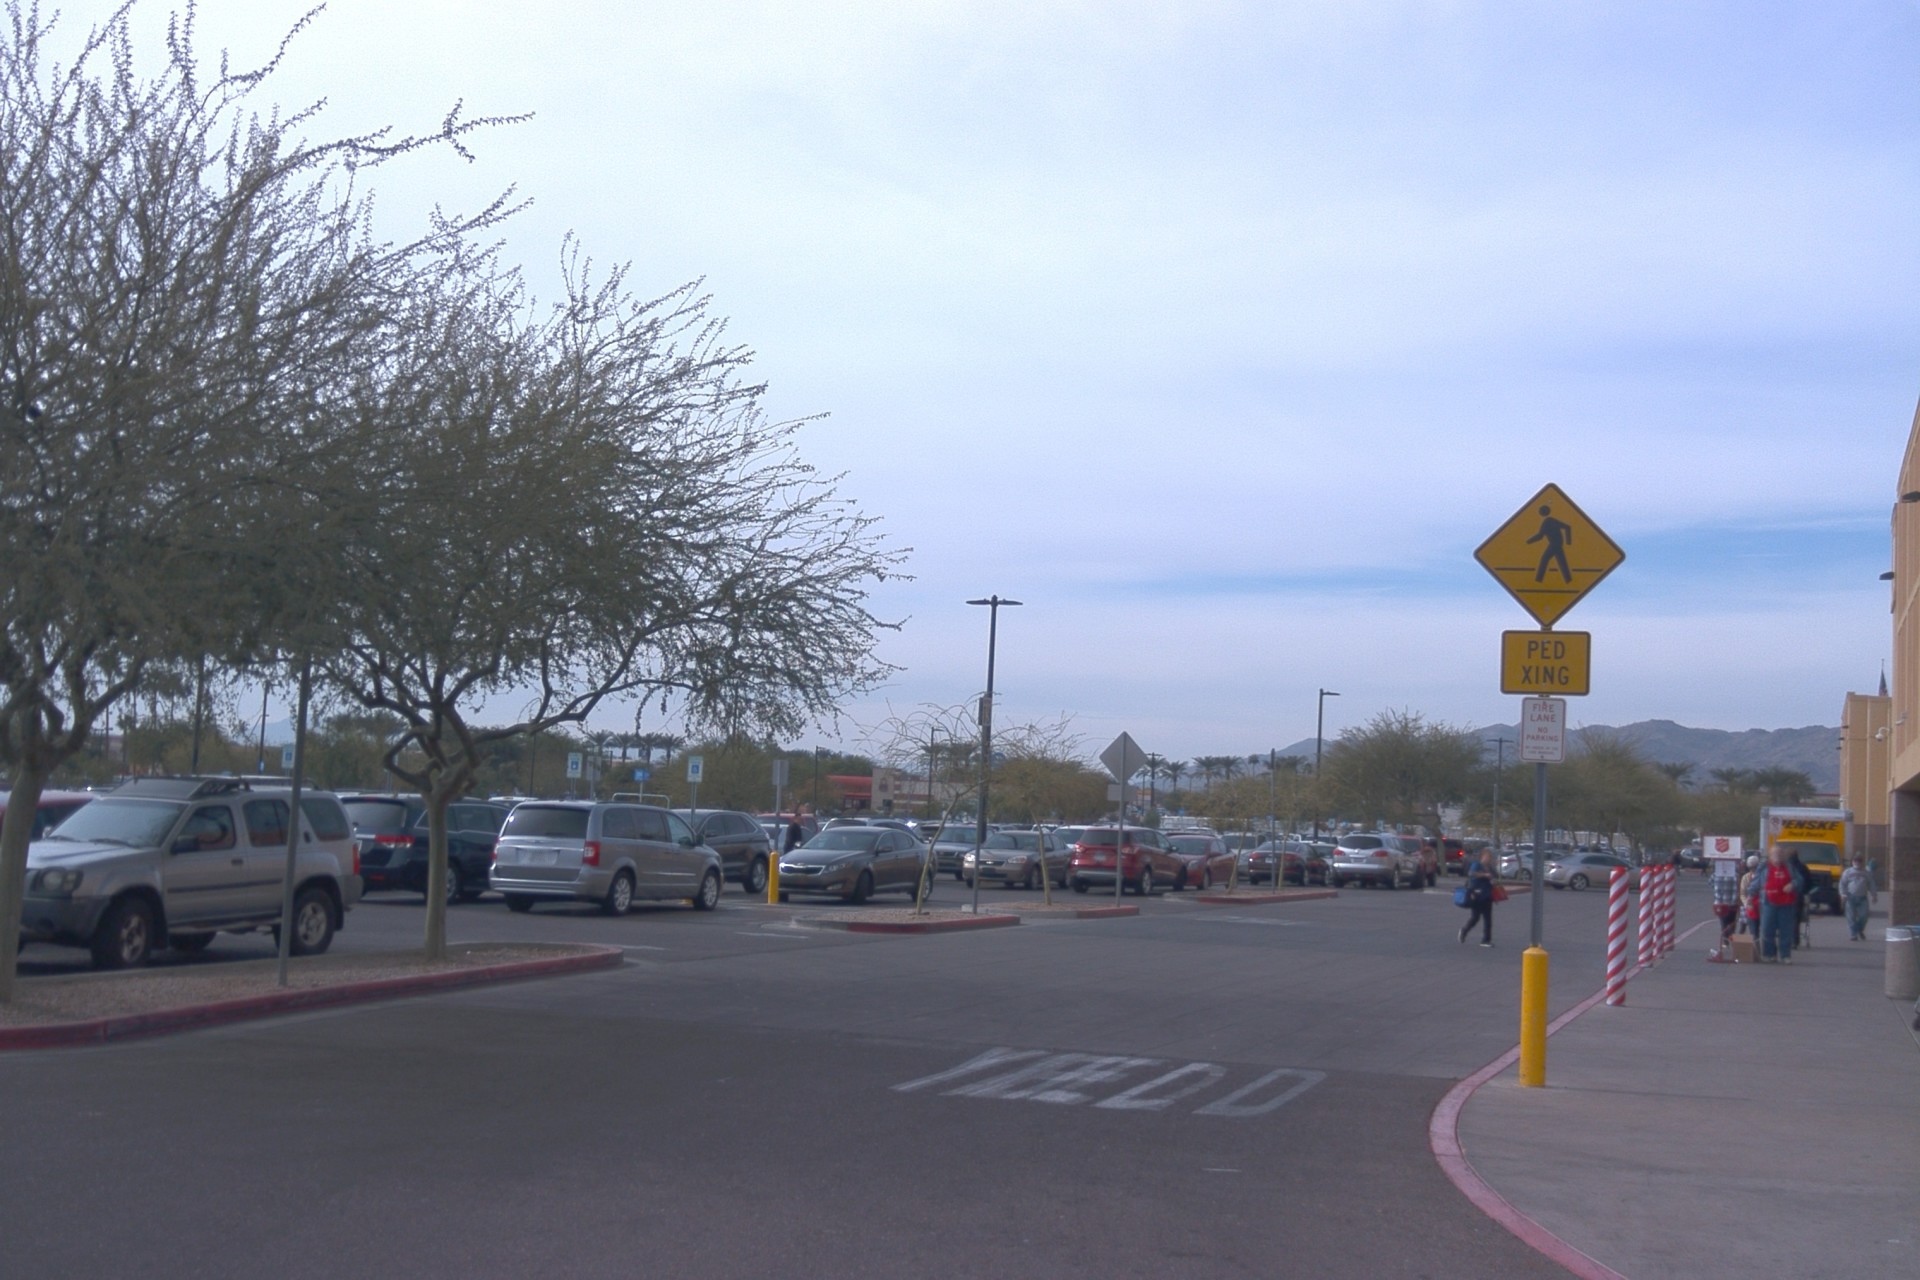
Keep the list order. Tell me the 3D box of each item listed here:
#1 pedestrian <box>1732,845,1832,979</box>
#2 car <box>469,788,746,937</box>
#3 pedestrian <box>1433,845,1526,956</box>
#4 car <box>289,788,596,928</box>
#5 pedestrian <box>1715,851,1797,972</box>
[{"bbox_3d":[12.398,4.073,31.441,1.109,1.860,1.051,0,-2,40],"label":"pedestrian"},{"bbox_3d":[-5.463,3.433,33.134,2.139,1.930,5.053,1,-2,19],"label":"car"},{"bbox_3d":[8.250,4.114,33.088,1.005,1.630,0.995,2,-2,-31],"label":"pedestrian"},{"bbox_3d":[-8.356,3.488,34.309,2.268,1.850,5.310,1,-2,20],"label":"car"},{"bbox_3d":[12.174,4.130,31.865,1.002,1.700,1.029,0,-2,29],"label":"pedestrian"}]
